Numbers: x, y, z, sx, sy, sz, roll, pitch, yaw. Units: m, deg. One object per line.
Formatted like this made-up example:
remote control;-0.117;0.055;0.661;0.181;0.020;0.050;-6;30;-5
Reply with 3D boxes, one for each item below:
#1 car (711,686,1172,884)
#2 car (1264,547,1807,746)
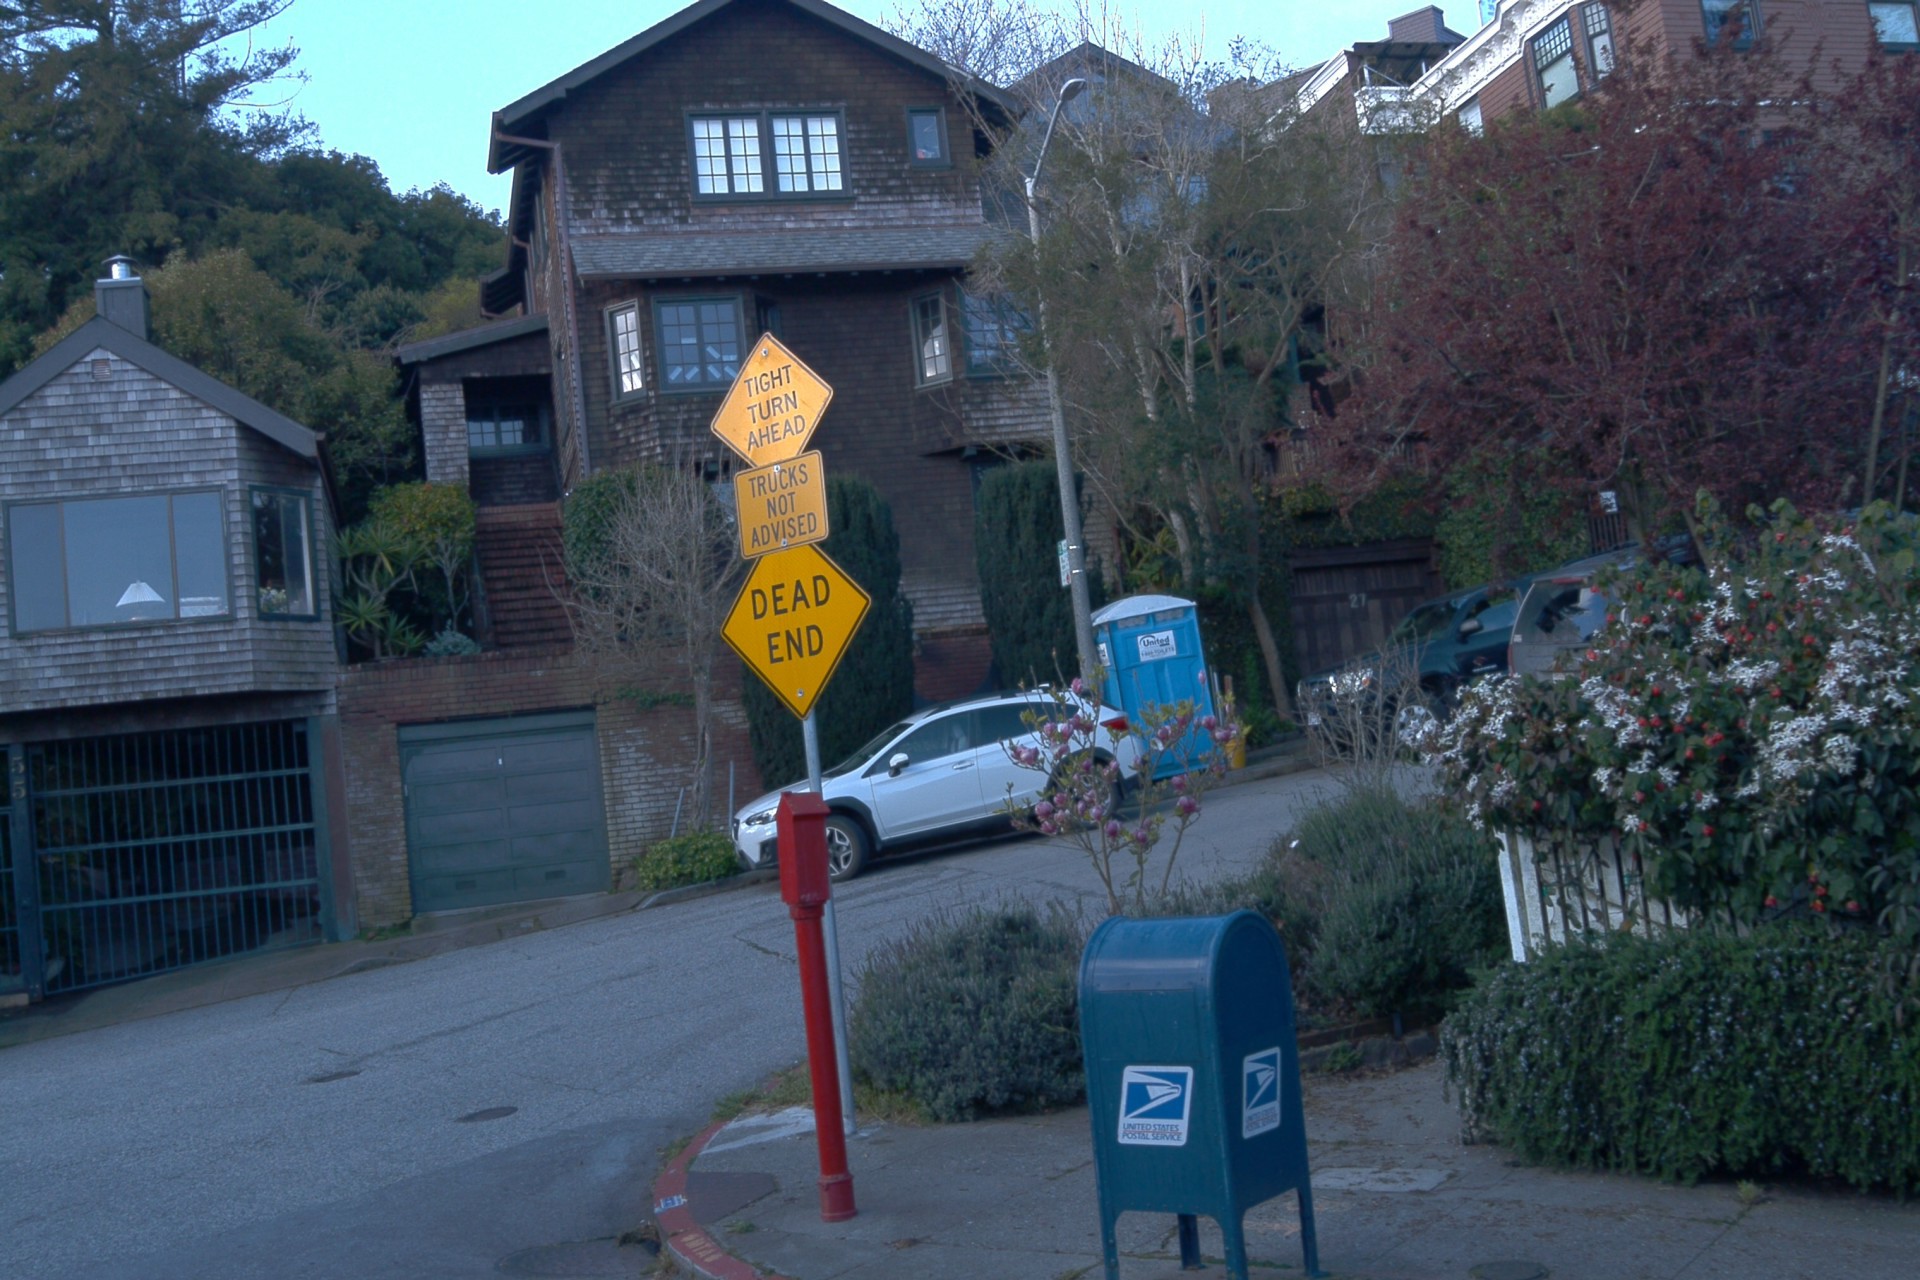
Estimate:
car;-0.271;1.489;22.163;4.665;1.919;2.141;0;0;-10
car;6.666;0.072;23.992;5.771;2.139;2.254;0;0;-16
